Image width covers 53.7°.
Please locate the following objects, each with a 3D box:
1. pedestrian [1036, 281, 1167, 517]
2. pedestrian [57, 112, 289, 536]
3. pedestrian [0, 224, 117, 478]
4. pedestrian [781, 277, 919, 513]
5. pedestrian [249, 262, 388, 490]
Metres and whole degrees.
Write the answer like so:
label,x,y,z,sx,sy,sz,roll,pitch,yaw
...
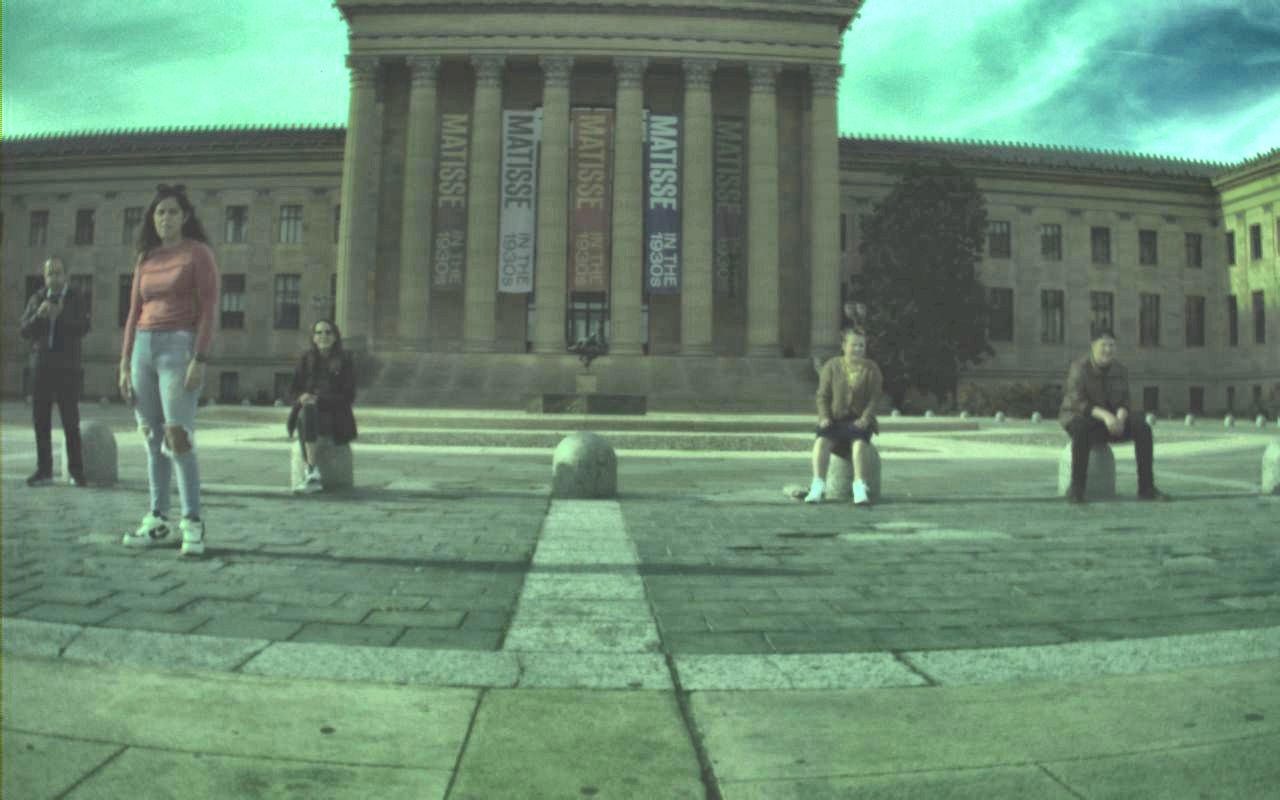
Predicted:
label,x,y,z,sx,sy,sz,roll,pitch,yaw
pedestrian,3.414,-0.001,8.859,0.808,1.659,0.836,0,0,6
pedestrian,-2.054,-0.311,5.151,0.747,1.695,0.764,0,0,15
pedestrian,-4.186,-0.329,8.164,0.805,1.739,0.819,0,0,-19
pedestrian,1.469,-0.038,8.848,0.800,1.588,0.822,0,0,-5
pedestrian,-2.282,-0.168,8.728,0.798,1.535,0.835,0,0,2
